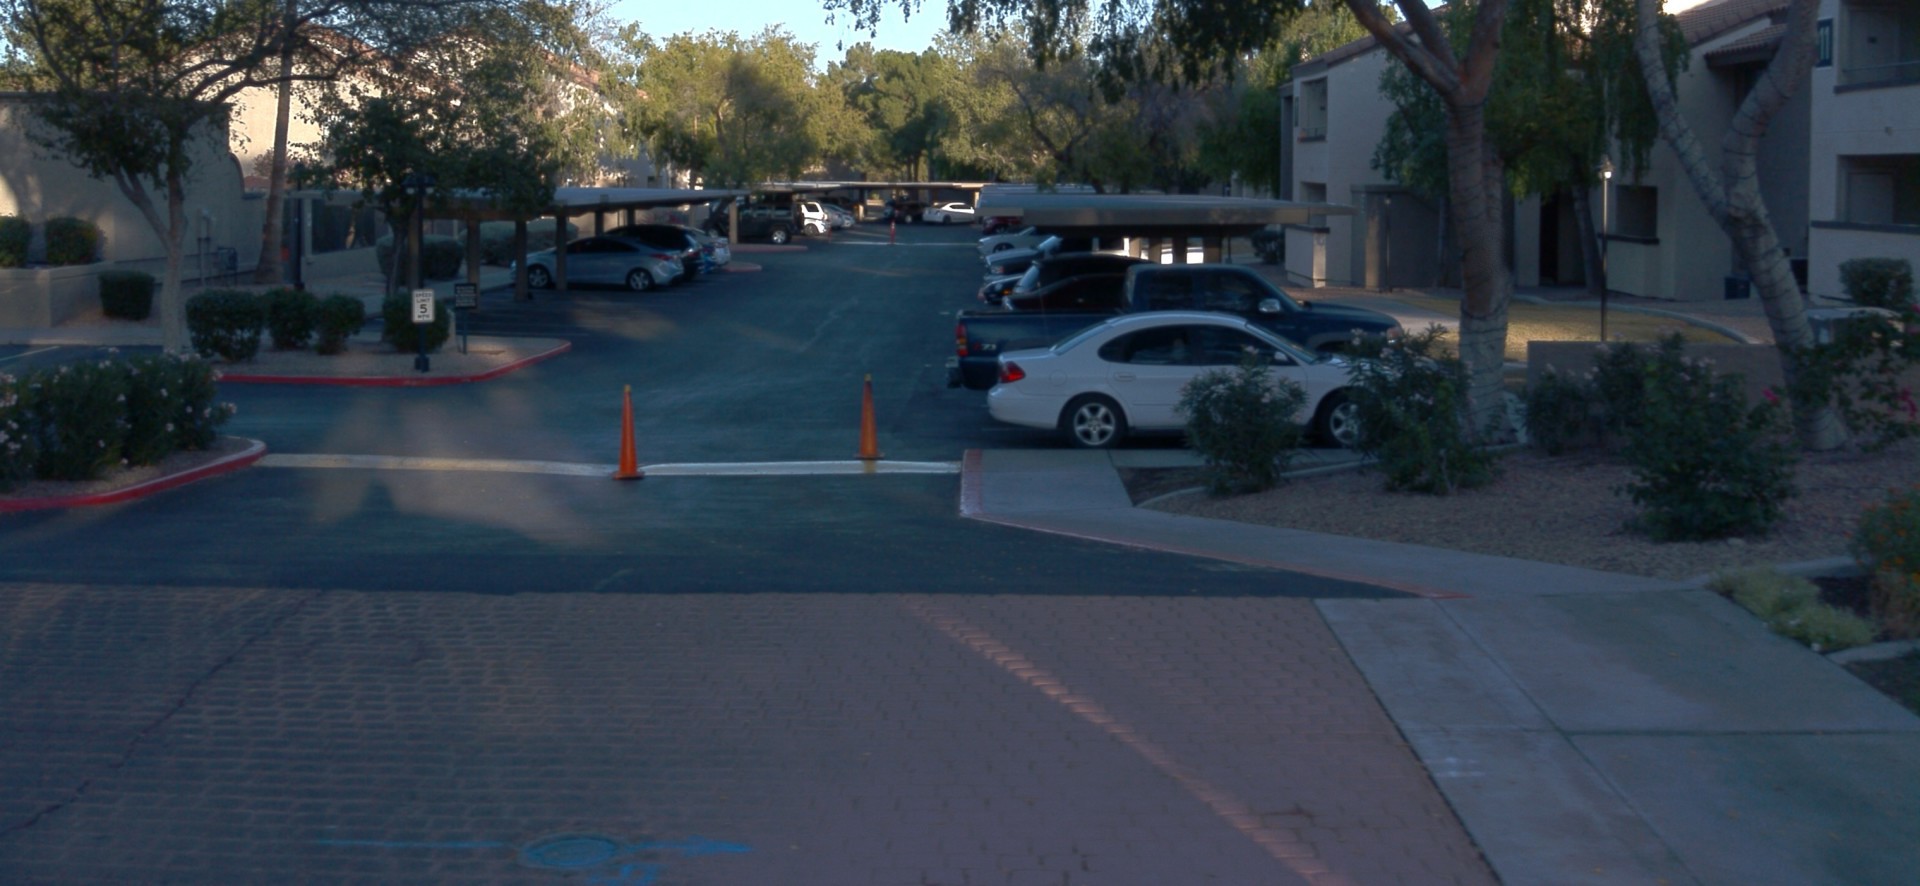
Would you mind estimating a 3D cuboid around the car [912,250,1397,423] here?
[{"bbox_3d":[2.297,-1.346,25.310,5.661,1.987,2.245,0,3,1],"label":"car"}]

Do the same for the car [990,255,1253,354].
[{"bbox_3d":[2.719,-2.400,35.553,4.367,1.637,1.936,0,3,-1],"label":"car"}]

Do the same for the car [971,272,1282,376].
[{"bbox_3d":[2.595,-1.934,33.212,4.831,1.557,2.155,0,4,-1],"label":"car"}]

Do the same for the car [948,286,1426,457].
[{"bbox_3d":[2.433,-0.831,22.614,4.953,1.707,2.092,0,3,4],"label":"car"}]
